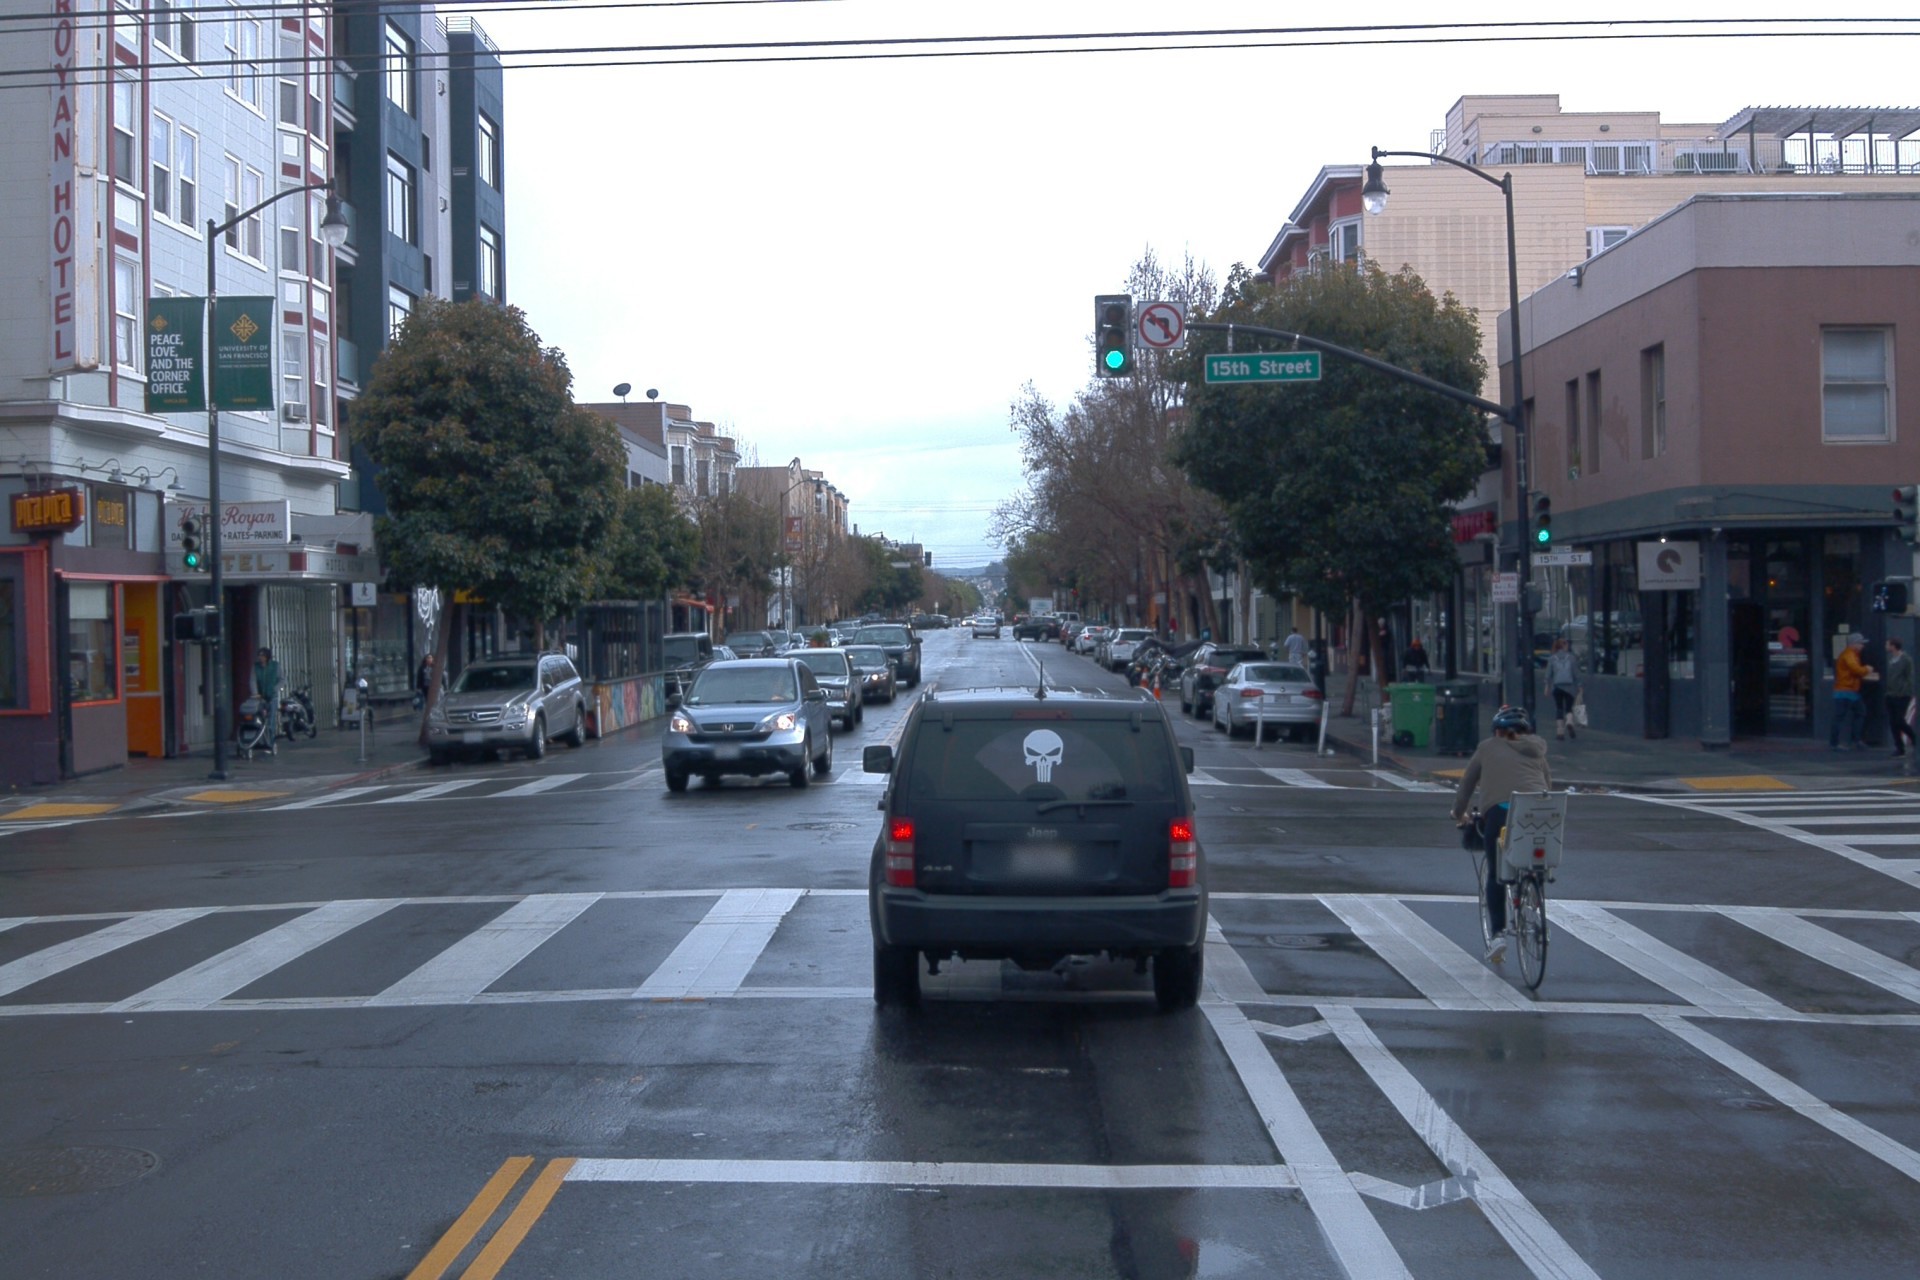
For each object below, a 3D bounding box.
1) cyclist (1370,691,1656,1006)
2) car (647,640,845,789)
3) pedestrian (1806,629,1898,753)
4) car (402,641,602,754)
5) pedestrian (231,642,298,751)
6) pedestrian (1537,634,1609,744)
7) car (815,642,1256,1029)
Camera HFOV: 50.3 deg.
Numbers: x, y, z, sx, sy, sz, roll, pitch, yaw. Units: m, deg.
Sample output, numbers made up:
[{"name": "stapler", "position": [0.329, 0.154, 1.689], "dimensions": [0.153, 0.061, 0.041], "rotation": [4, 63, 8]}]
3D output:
[{"name": "cyclist", "position": [3.329, 1.202, 12.575], "dimensions": [1.265, 1.710, 2.011], "rotation": [1, 0, 2]}, {"name": "car", "position": [-2.763, 0.916, 27.410], "dimensions": [2.010, 1.800, 4.501], "rotation": [1, 0, 2]}, {"name": "pedestrian", "position": [13.325, 0.741, 30.527], "dimensions": [1.088, 1.800, 0.941], "rotation": [1, 0, 35]}, {"name": "car", "position": [-8.275, 0.969, 37.529], "dimensions": [2.242, 1.870, 5.560], "rotation": [1, 0, 2]}, {"name": "pedestrian", "position": [-12.354, 0.994, 36.350], "dimensions": [0.870, 1.910, 0.948], "rotation": [1, 0, -1]}, {"name": "pedestrian", "position": [10.232, 0.799, 34.166], "dimensions": [0.997, 1.800, 0.925], "rotation": [1, 0, 8]}, {"name": "car", "position": [0.428, 0.980, 12.440], "dimensions": [2.195, 1.885, 4.386], "rotation": [1, 0, 1]}]
